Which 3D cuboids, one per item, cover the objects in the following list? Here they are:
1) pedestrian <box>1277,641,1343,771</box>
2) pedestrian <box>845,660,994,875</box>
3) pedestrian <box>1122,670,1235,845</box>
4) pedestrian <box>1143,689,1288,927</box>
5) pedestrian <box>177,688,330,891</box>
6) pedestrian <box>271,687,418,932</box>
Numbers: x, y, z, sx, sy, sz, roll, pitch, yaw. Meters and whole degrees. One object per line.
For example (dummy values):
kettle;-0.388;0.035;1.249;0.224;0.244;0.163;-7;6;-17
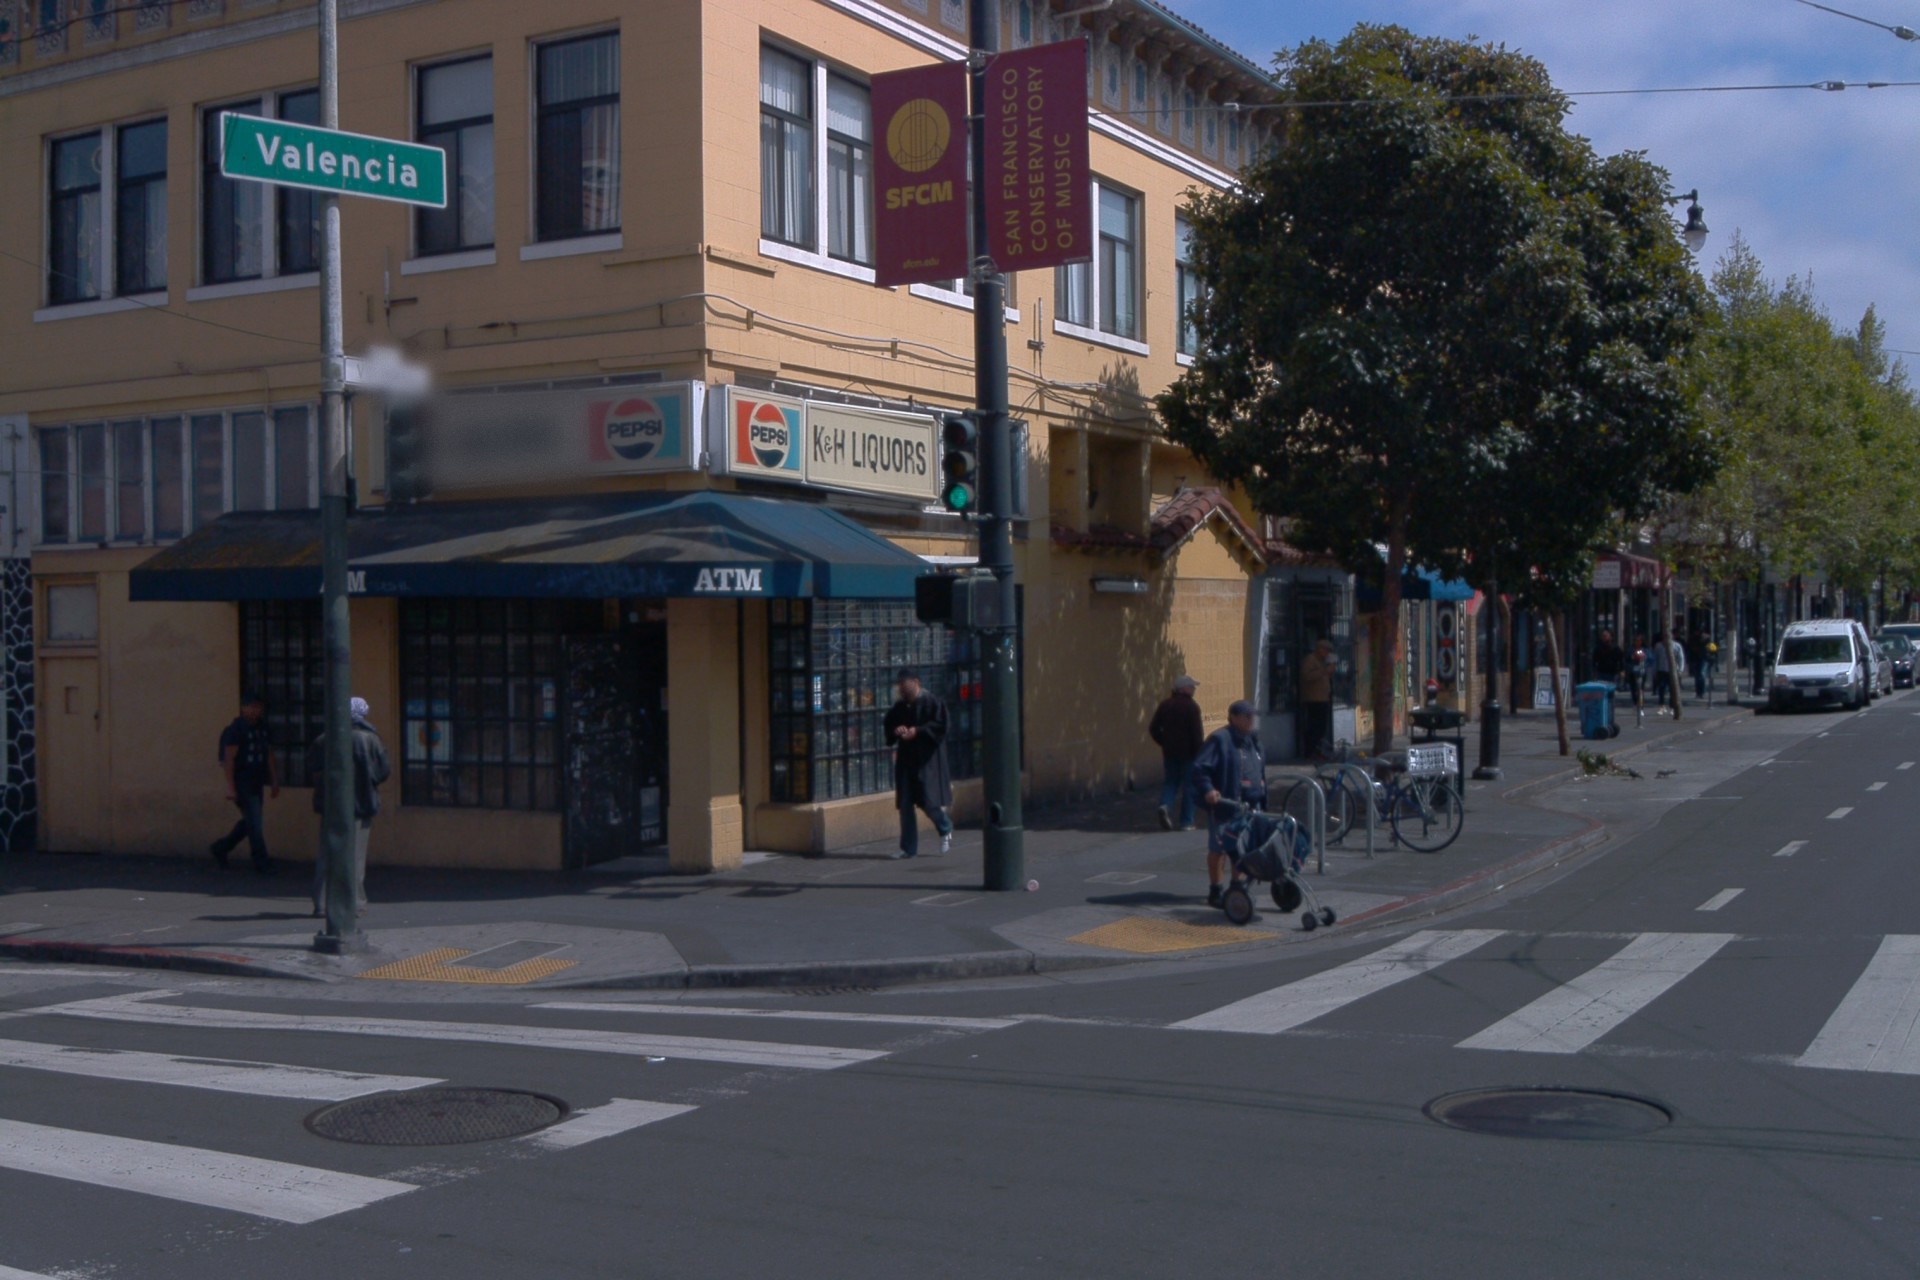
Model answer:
pedestrian;5.223;0.962;30.657;0.781;1.890;0.818;0;1;25
pedestrian;-0.377;1.152;19.157;0.997;1.910;0.958;0;1;39
pedestrian;2.283;1.197;21.419;0.801;1.730;1.076;0;1;31
pedestrian;2.023;1.307;16.334;0.868;1.790;0.825;0;1;-18
pedestrian;-6.732;1.397;19.612;1.014;1.830;0.933;0;1;26
pedestrian;-4.822;1.309;16.142;0.905;1.850;0.713;0;1;4
